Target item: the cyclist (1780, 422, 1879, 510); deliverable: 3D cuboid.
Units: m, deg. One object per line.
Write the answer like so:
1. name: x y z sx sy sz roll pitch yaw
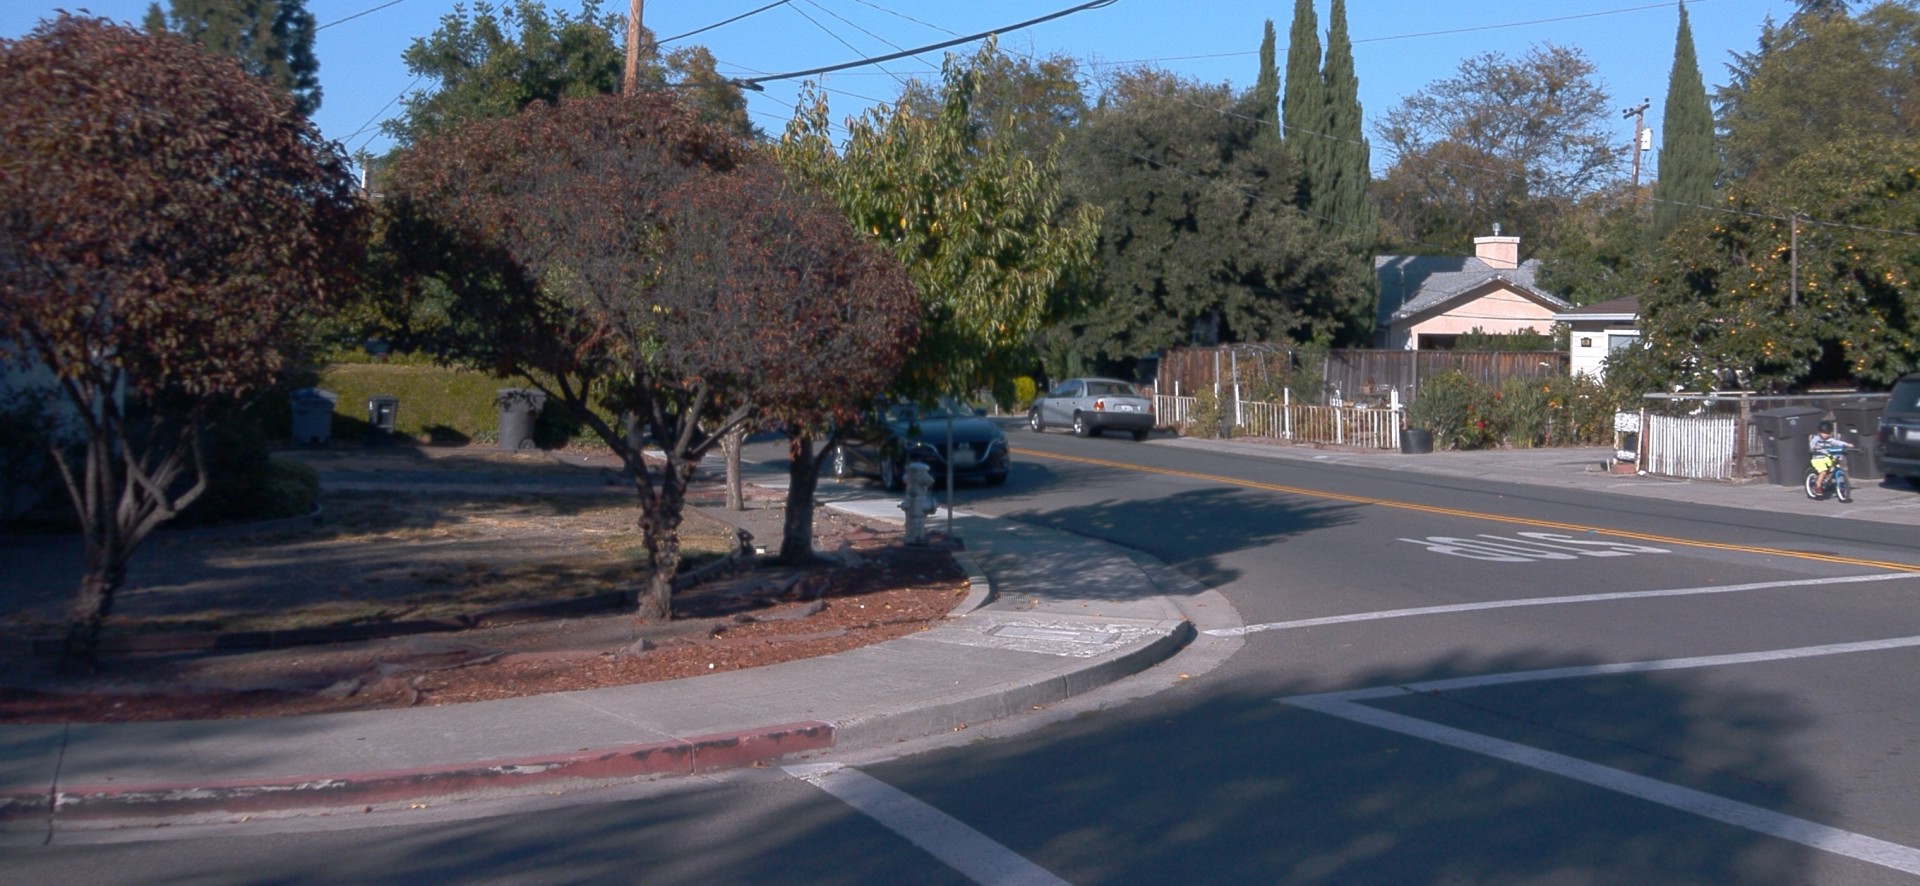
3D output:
1. cyclist: 11.826 0.297 28.153 0.646 1.058 1.211 0 4 -13

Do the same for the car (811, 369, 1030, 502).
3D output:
1. car: -0.703 -0.197 31.681 2.032 1.554 4.626 -1 5 -19
